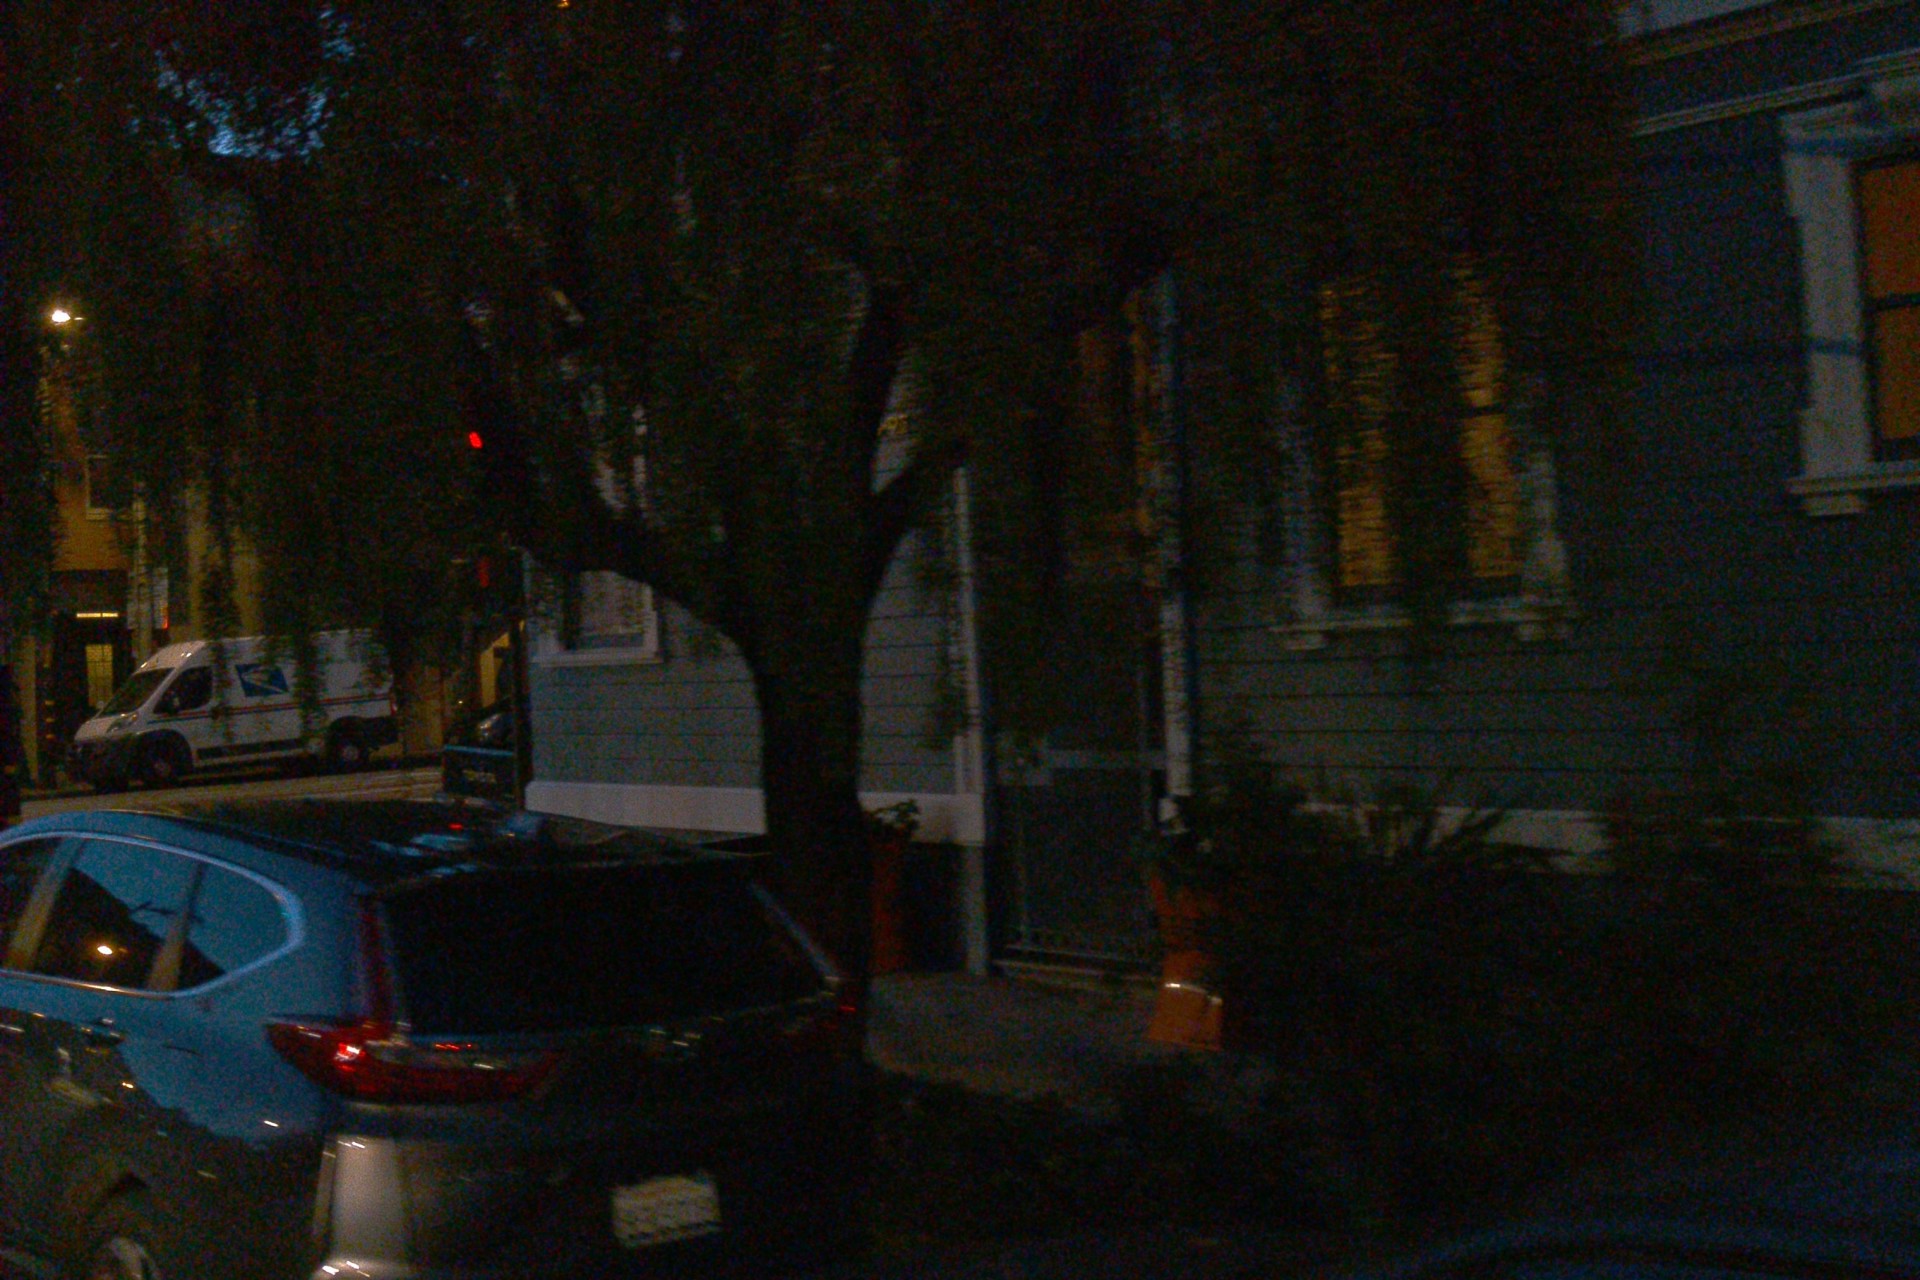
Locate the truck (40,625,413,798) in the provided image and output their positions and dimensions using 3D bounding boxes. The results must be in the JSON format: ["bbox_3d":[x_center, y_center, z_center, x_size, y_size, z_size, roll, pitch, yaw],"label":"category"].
[{"bbox_3d":[-12.514,1.112,35.507,2.515,2.730,5.482,1,1,44],"label":"truck"}]

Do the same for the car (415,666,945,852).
[{"bbox_3d":[-2.779,1.121,21.416,5.176,1.590,2.052,-1,1,-42],"label":"car"}]
